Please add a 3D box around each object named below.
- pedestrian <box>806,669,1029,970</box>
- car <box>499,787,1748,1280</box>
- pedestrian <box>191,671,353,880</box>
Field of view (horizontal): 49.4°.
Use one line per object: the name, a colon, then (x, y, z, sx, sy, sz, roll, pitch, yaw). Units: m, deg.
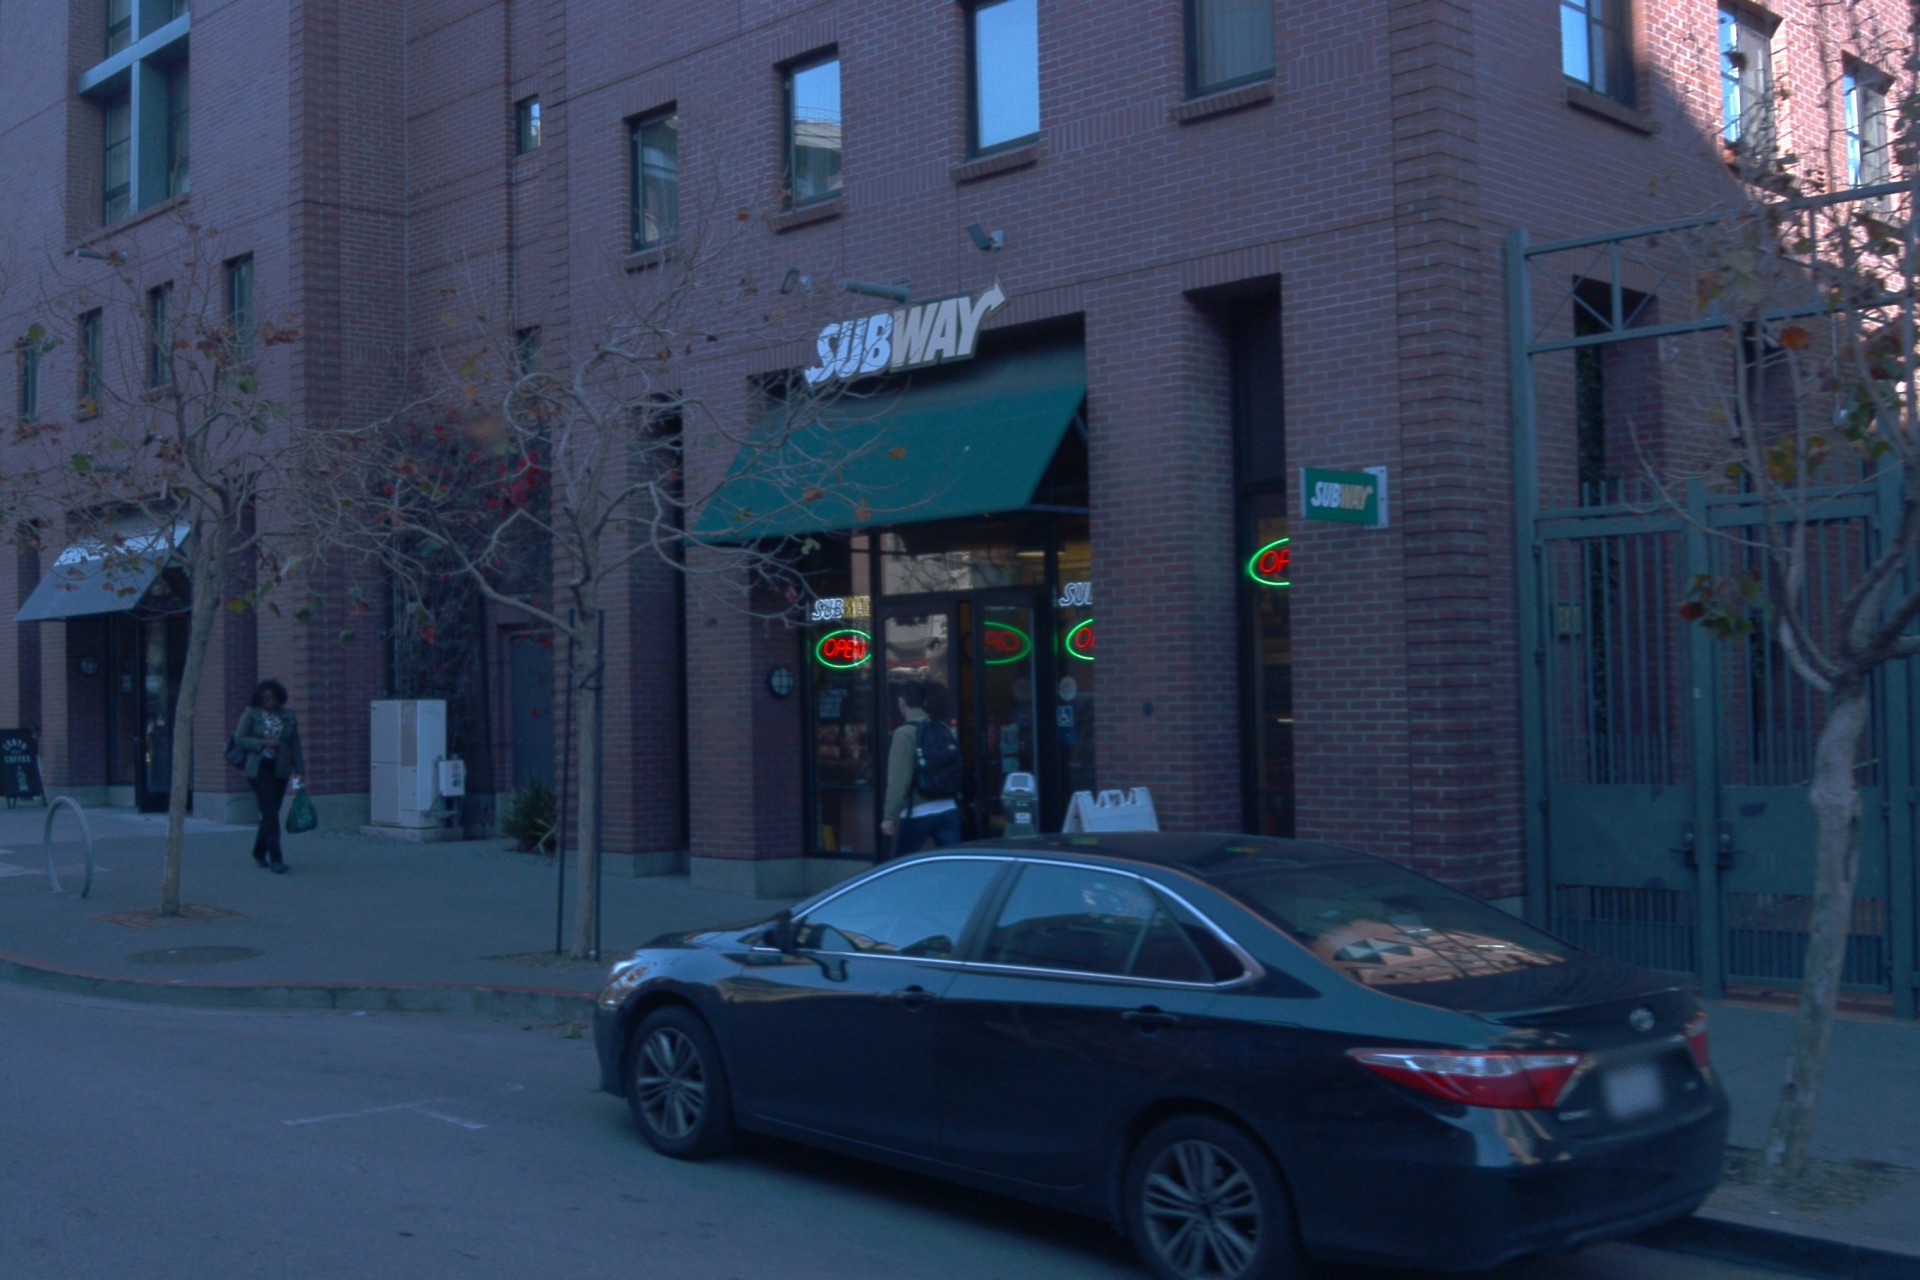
pedestrian: (-0.293, 1.167, 14.200, 0.992, 1.930, 1.153, 0, 0, -43)
car: (0.363, 1.507, 8.458, 4.894, 1.510, 2.006, 0, 0, 44)
pedestrian: (-6.240, 1.189, 18.908, 1.059, 1.810, 1.108, 0, 0, -39)
